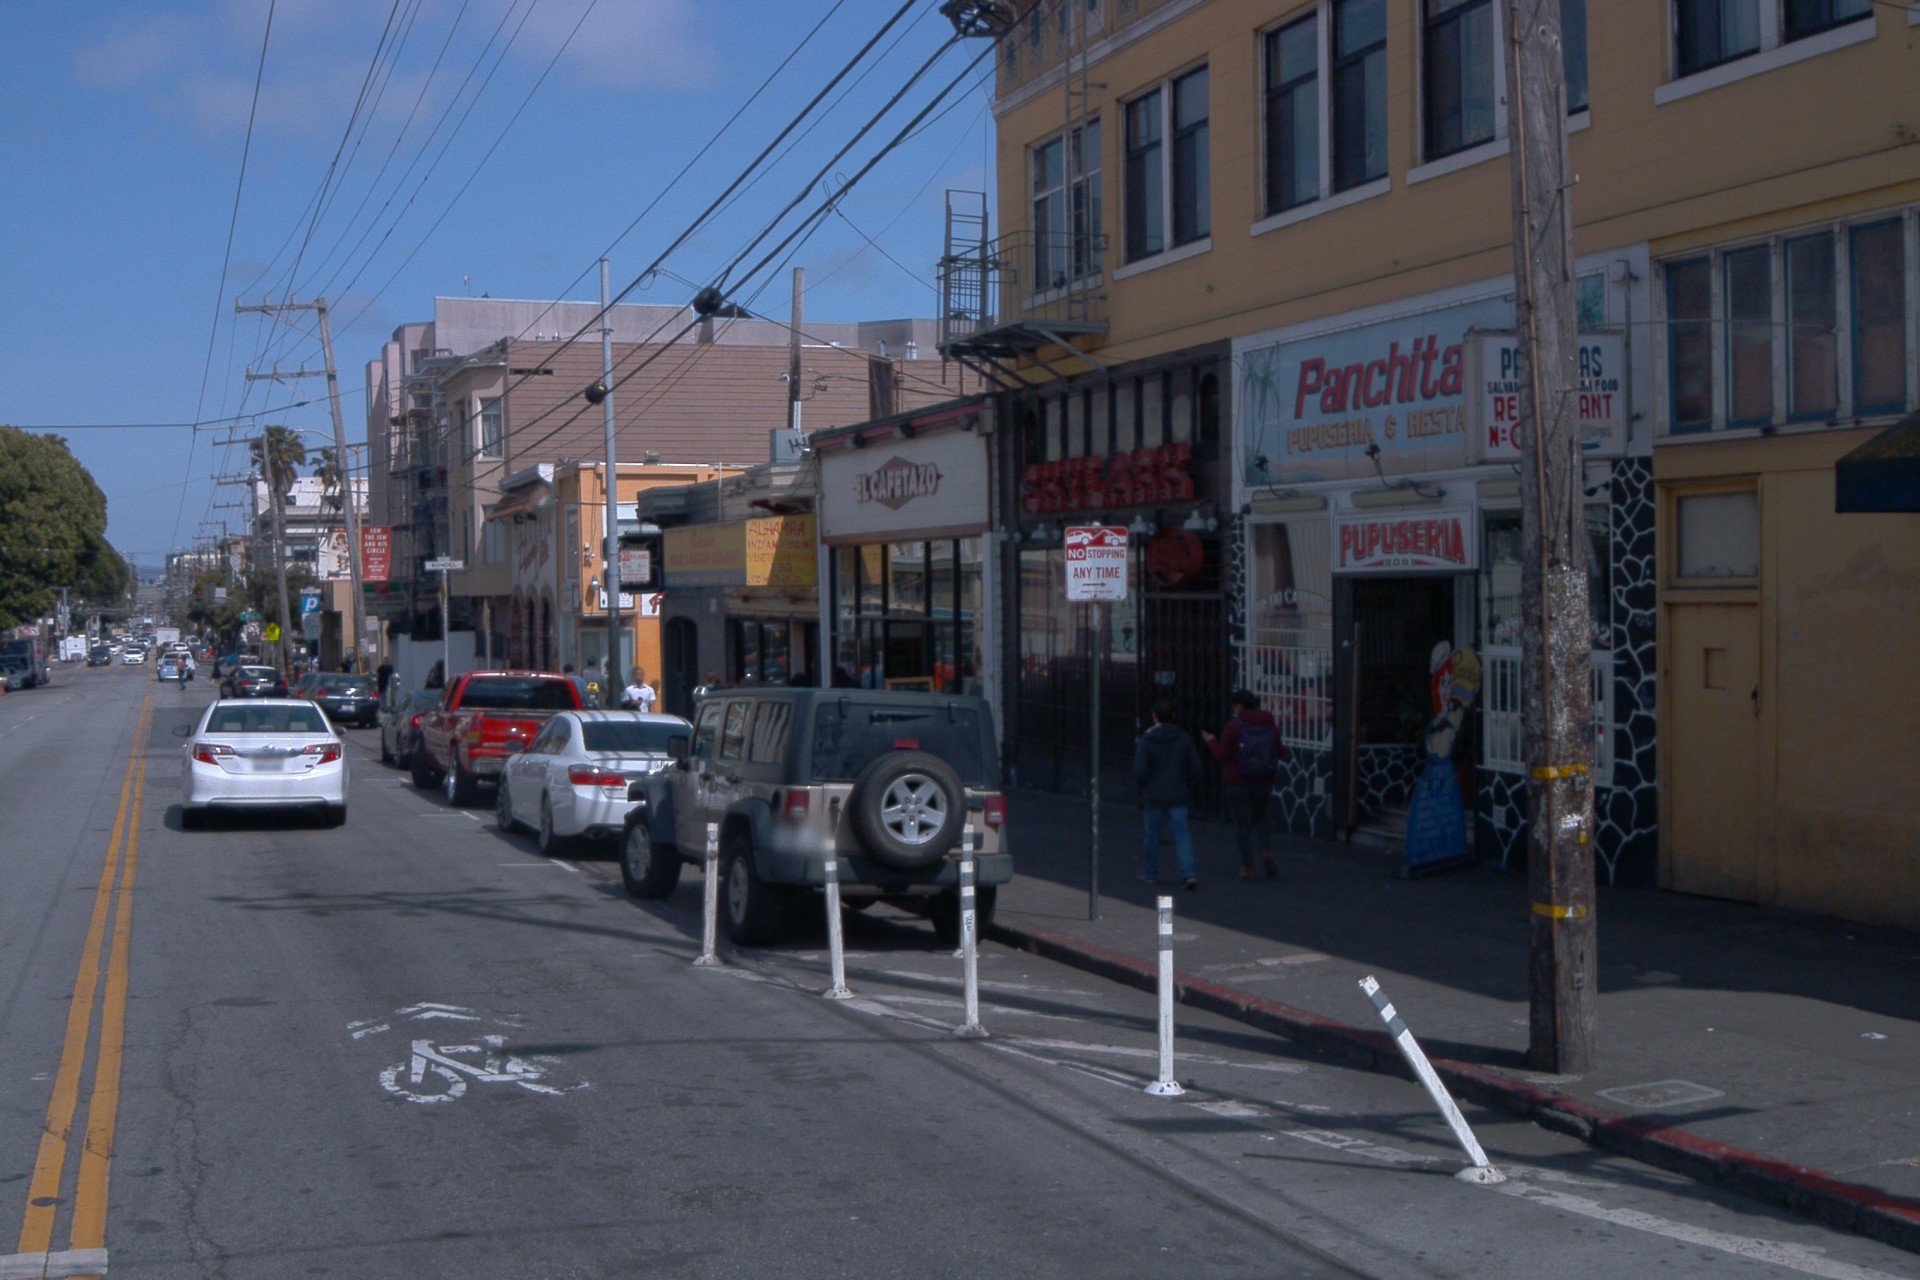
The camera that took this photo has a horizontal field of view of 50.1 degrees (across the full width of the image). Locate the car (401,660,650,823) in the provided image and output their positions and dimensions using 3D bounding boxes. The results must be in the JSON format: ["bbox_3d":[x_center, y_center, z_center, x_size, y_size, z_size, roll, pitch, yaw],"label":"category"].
[{"bbox_3d":[-6.250,1.311,28.971,2.355,1.910,5.699,-1,1,-23],"label":"car"}]

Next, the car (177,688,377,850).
[{"bbox_3d":[-8.273,1.459,24.728,2.073,1.570,4.586,0,1,-20],"label":"car"}]

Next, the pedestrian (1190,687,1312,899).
[{"bbox_3d":[2.377,1.232,16.854,0.746,1.650,0.862,0,1,-10],"label":"pedestrian"}]

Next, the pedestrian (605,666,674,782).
[{"bbox_3d":[-5.041,1.299,32.260,0.864,1.760,1.175,0,1,-19],"label":"pedestrian"}]

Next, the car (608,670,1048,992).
[{"bbox_3d":[-1.221,1.280,15.928,2.013,1.960,4.743,-1,1,-22],"label":"car"}]

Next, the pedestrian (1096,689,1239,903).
[{"bbox_3d":[1.668,1.233,16.623,0.881,1.630,0.915,0,1,-15],"label":"pedestrian"}]

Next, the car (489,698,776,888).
[{"bbox_3d":[-3.654,1.520,22.097,2.098,1.580,4.875,0,1,-20],"label":"car"}]
